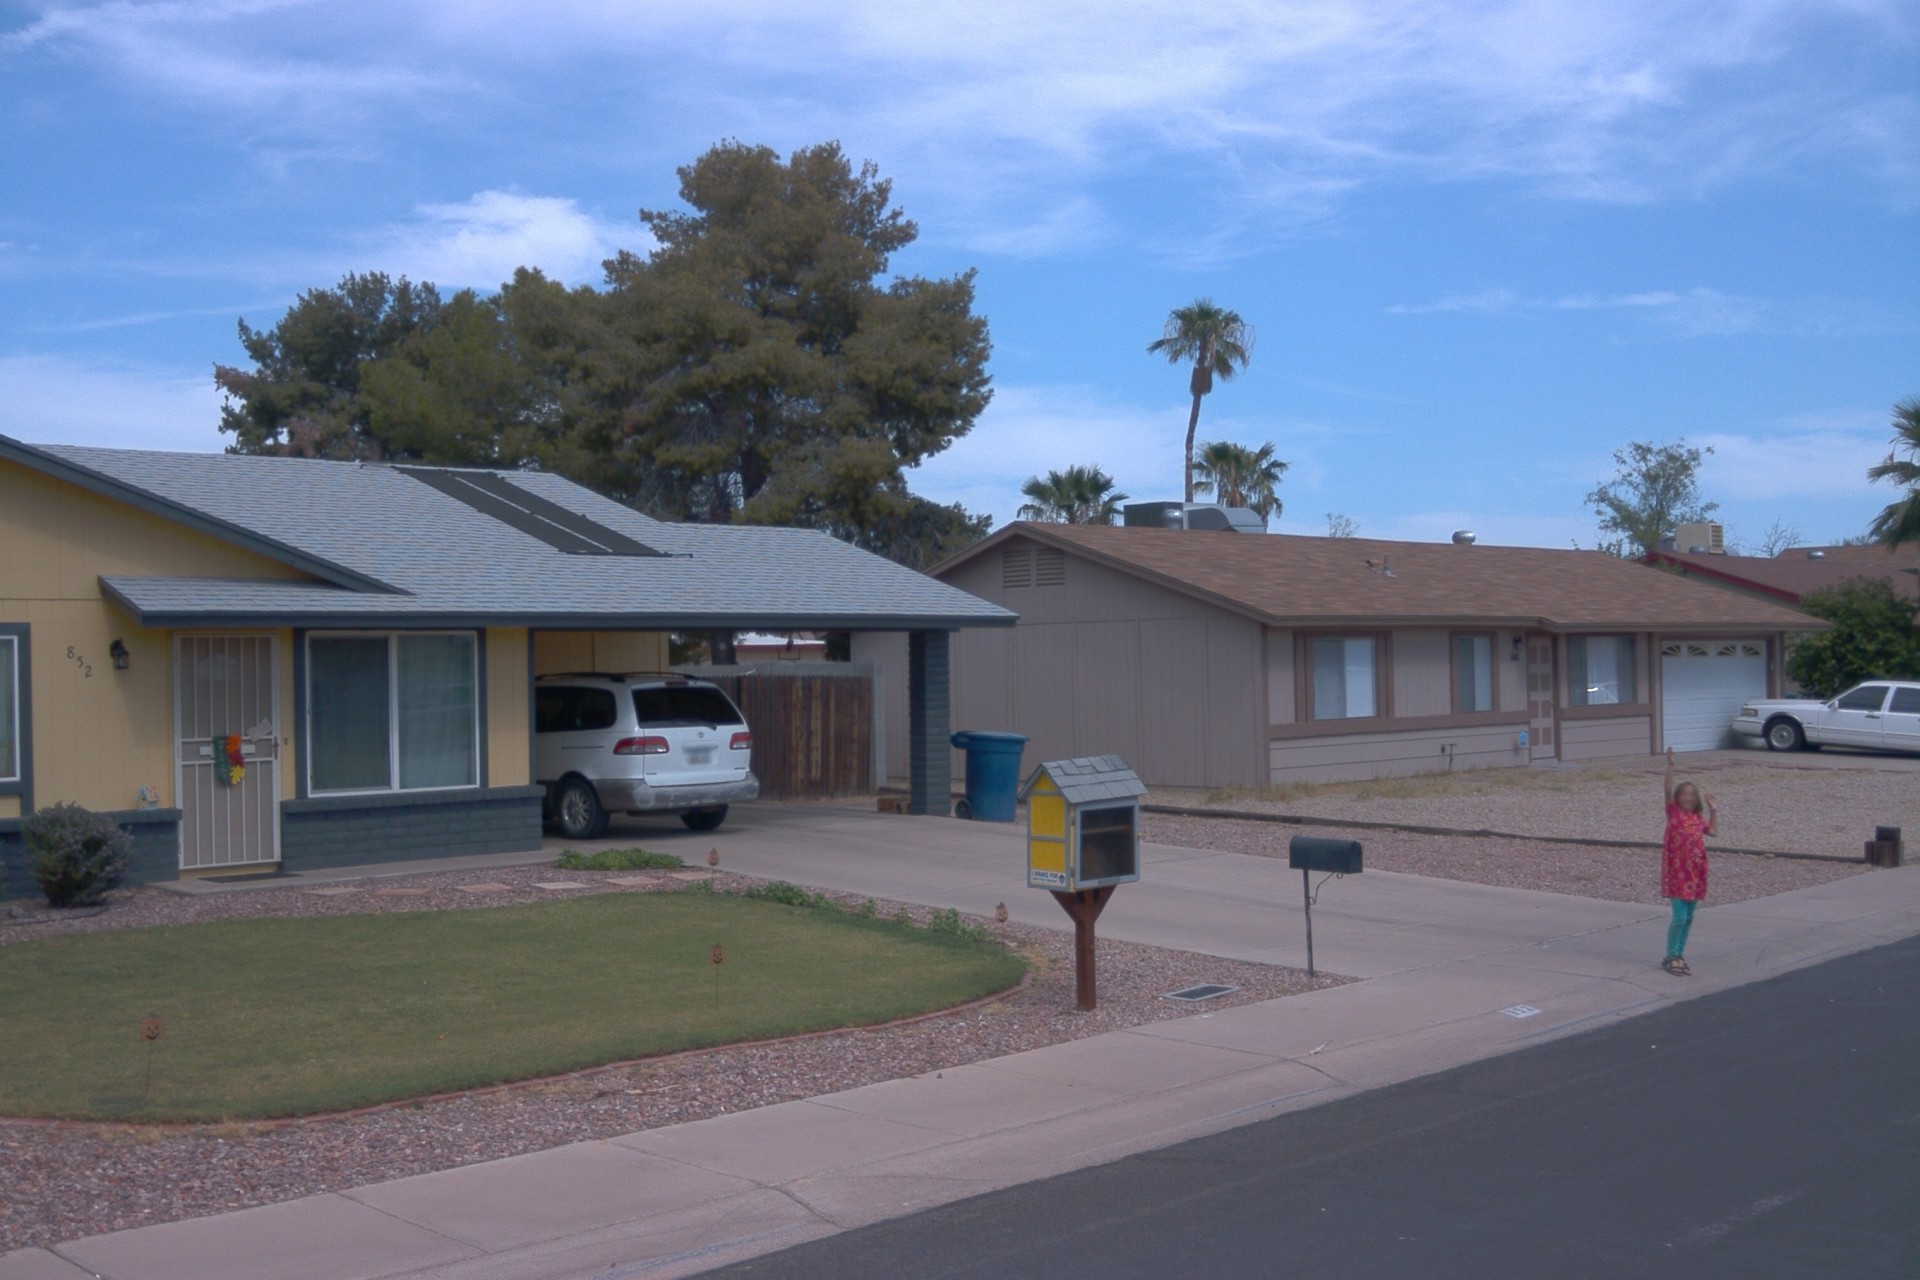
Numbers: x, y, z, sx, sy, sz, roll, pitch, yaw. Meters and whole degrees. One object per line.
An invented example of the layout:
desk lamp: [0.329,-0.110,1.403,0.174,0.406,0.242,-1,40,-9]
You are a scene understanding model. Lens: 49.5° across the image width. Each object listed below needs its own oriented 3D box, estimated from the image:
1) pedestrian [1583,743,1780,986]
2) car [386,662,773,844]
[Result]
pedestrian: [4.976,1.525,14.426,1.021,1.580,0.958,0,0,-1]
car: [-4.224,1.144,22.810,4.247,1.790,1.856,0,0,40]
